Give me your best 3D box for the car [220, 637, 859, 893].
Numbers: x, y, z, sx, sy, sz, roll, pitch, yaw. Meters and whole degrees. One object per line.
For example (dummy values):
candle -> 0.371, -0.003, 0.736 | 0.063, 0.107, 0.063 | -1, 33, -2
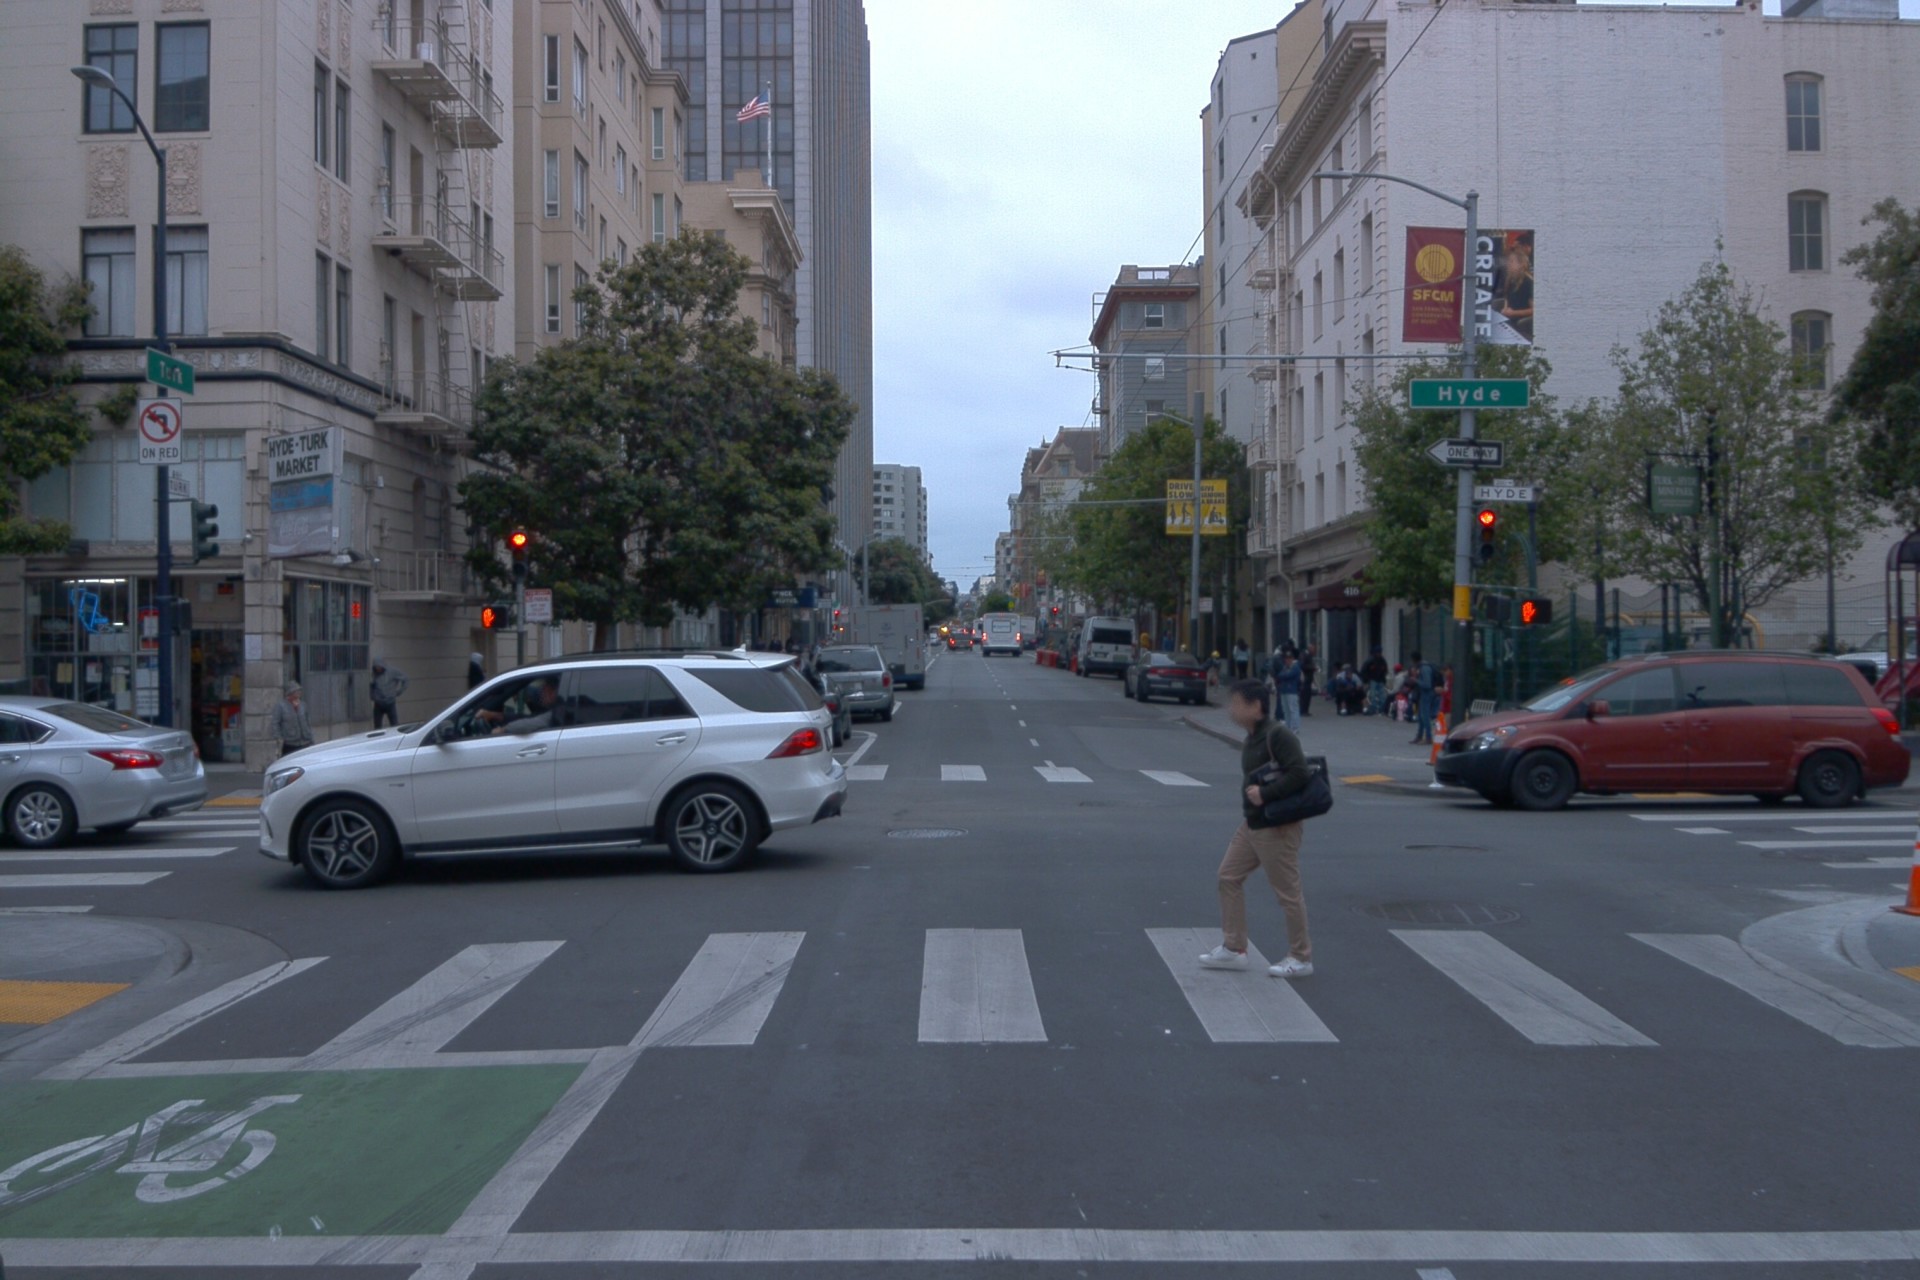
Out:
car -> -3.298, 0.965, 16.948 | 4.808, 1.930, 2.169 | 0, 1, 1

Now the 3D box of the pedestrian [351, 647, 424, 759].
pedestrian -> -9.758, 1.063, 35.079 | 0.928, 1.870, 1.019 | 0, 1, 3

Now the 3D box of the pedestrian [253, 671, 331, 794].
pedestrian -> -9.221, 1.262, 28.391 | 0.866, 1.620, 0.827 | -1, 1, -29

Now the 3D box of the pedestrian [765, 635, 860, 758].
pedestrian -> -2.448, 0.922, 34.281 | 1.261, 1.990, 1.094 | 0, 1, 18

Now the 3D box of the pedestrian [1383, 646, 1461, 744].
pedestrian -> 8.324, 0.977, 37.075 | 0.930, 1.710, 1.050 | -1, 1, -22

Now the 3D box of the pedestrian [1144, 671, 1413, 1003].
pedestrian -> 1.737, 1.053, 11.447 | 1.318, 1.720, 1.107 | 0, 1, 0

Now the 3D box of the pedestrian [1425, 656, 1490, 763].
pedestrian -> 7.700, 1.062, 31.835 | 0.906, 1.620, 0.868 | 0, 1, 9
